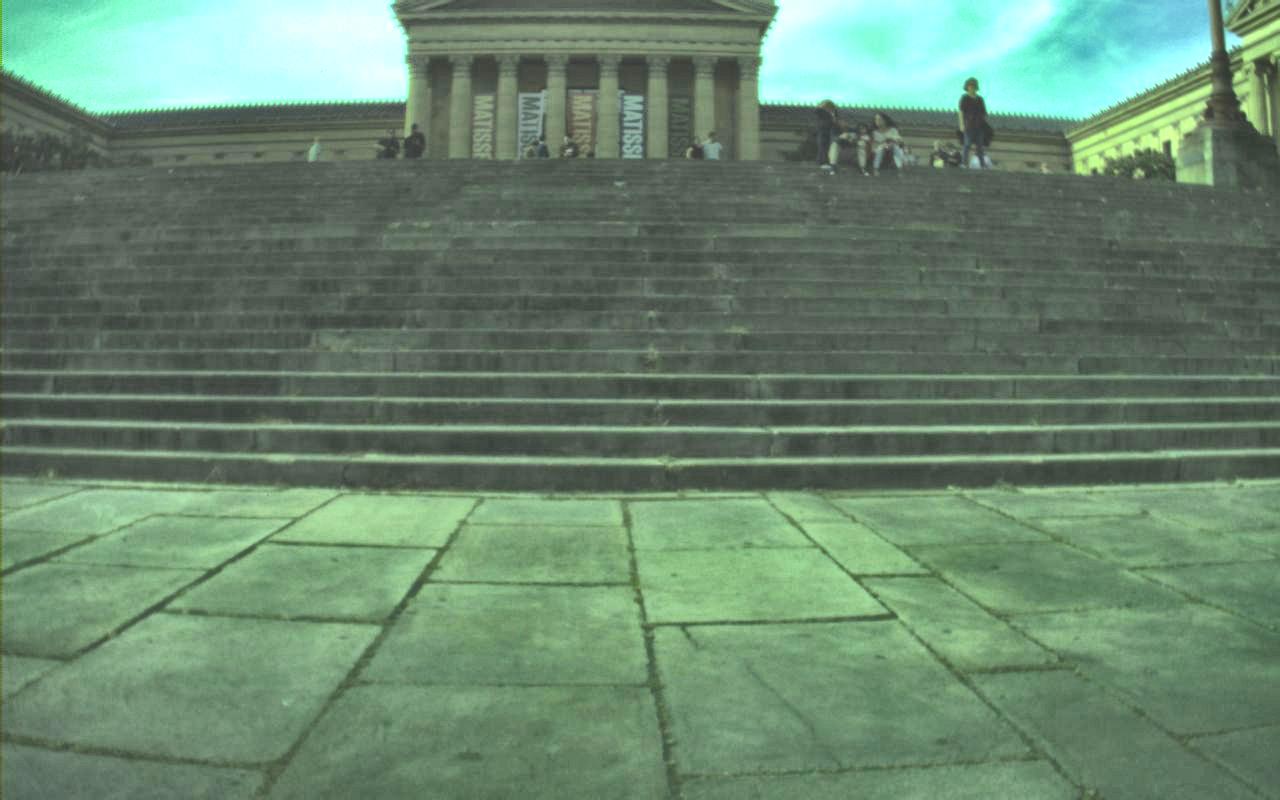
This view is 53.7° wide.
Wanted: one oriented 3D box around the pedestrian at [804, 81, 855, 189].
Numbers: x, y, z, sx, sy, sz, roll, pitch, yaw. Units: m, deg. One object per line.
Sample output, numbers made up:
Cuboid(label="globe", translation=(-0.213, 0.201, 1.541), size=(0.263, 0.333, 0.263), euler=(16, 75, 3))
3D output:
Cuboid(label="pedestrian", translation=(2.958, -4.144, 19.427), size=(0.764, 1.606, 0.744), euler=(0, 0, 7))

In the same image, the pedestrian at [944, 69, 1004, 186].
Cuboid(label="pedestrian", translation=(5.595, -4.537, 20.305), size=(0.814, 1.837, 0.796), euler=(0, 0, 2))
